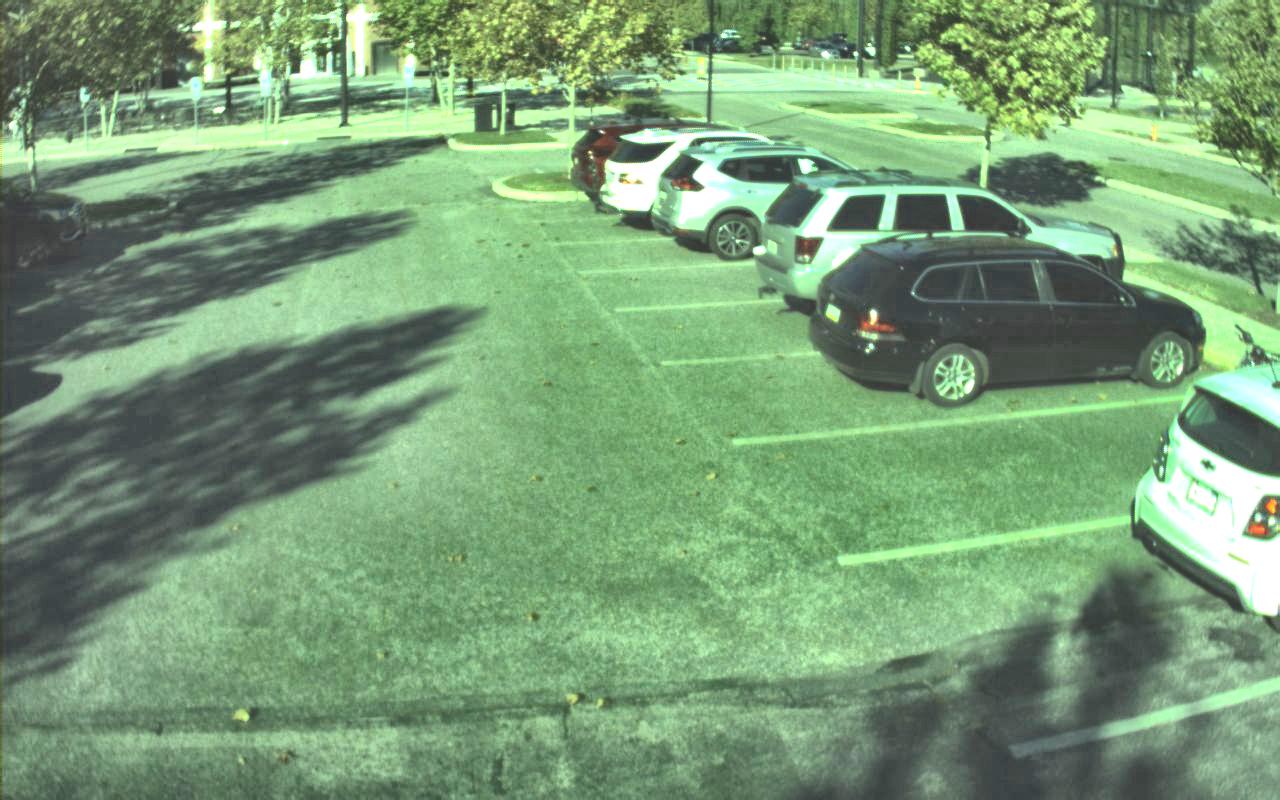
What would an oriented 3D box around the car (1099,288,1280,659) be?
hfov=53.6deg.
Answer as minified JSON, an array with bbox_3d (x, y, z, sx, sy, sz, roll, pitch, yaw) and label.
[{"bbox_3d":[5.642,0.331,7.818,4.425,1.681,1.965,-5,17,-12],"label":"car"}]

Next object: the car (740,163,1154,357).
[{"bbox_3d":[3.755,-1.825,14.939,4.741,1.856,2.047,-4,16,-11],"label":"car"}]

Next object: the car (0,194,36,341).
[{"bbox_3d":[-11.964,-2.050,16.960,4.466,1.621,1.978,-4,17,-10],"label":"car"}]

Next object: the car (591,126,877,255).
[{"bbox_3d":[1.651,-3.791,22.162,4.669,1.844,2.032,-6,17,-15],"label":"car"}]

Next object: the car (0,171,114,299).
[{"bbox_3d":[-11.812,-2.941,20.009,4.485,1.605,1.968,-5,17,-12],"label":"car"}]

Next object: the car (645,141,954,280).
[{"bbox_3d":[2.510,-3.088,19.765,4.520,1.777,1.986,-5,17,-12],"label":"car"}]

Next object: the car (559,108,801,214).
[{"bbox_3d":[0.776,-4.810,24.841,4.432,1.753,1.975,-5,17,-14],"label":"car"}]

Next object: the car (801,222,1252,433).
[{"bbox_3d":[4.022,-0.872,12.476,4.435,1.530,1.917,-4,17,-11],"label":"car"}]
